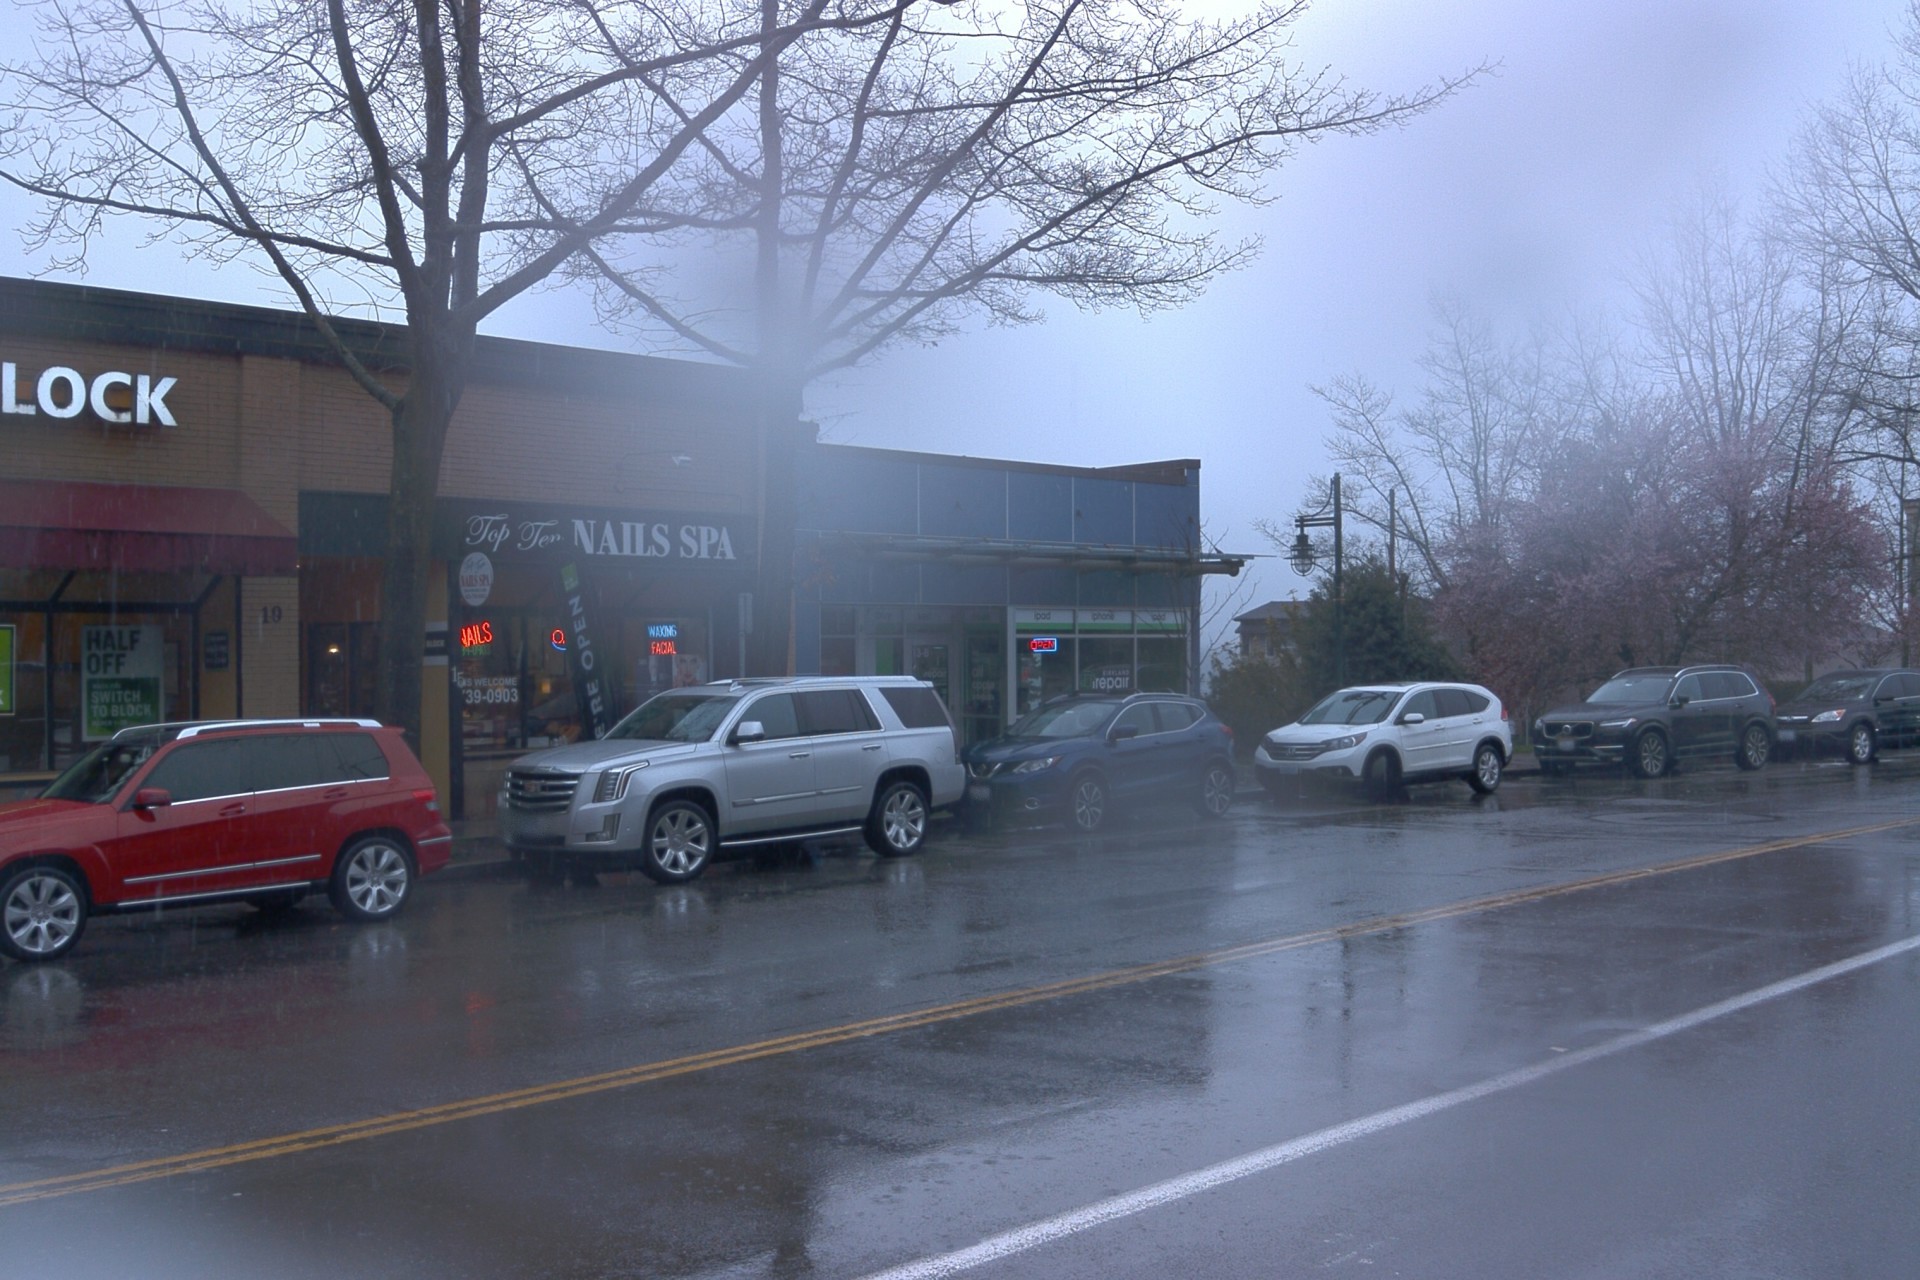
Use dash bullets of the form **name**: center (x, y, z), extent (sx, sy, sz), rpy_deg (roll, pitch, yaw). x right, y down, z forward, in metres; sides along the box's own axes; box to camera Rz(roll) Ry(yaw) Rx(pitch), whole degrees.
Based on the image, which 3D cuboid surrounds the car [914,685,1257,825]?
- **car**: center (1.622, 1.333, 25.280), extent (1.999, 1.400, 4.335), rpy_deg (1, 1, 40)

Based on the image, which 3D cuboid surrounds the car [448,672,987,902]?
- **car**: center (-2.323, 1.345, 21.042), extent (2.331, 1.890, 5.194), rpy_deg (1, 1, 42)

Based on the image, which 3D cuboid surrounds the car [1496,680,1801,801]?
- **car**: center (11.412, 1.592, 34.053), extent (5.296, 1.690, 2.144), rpy_deg (-1, 1, -37)

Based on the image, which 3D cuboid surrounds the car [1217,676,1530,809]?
- **car**: center (5.984, 1.396, 29.584), extent (4.481, 1.610, 2.181), rpy_deg (-1, 1, -43)
